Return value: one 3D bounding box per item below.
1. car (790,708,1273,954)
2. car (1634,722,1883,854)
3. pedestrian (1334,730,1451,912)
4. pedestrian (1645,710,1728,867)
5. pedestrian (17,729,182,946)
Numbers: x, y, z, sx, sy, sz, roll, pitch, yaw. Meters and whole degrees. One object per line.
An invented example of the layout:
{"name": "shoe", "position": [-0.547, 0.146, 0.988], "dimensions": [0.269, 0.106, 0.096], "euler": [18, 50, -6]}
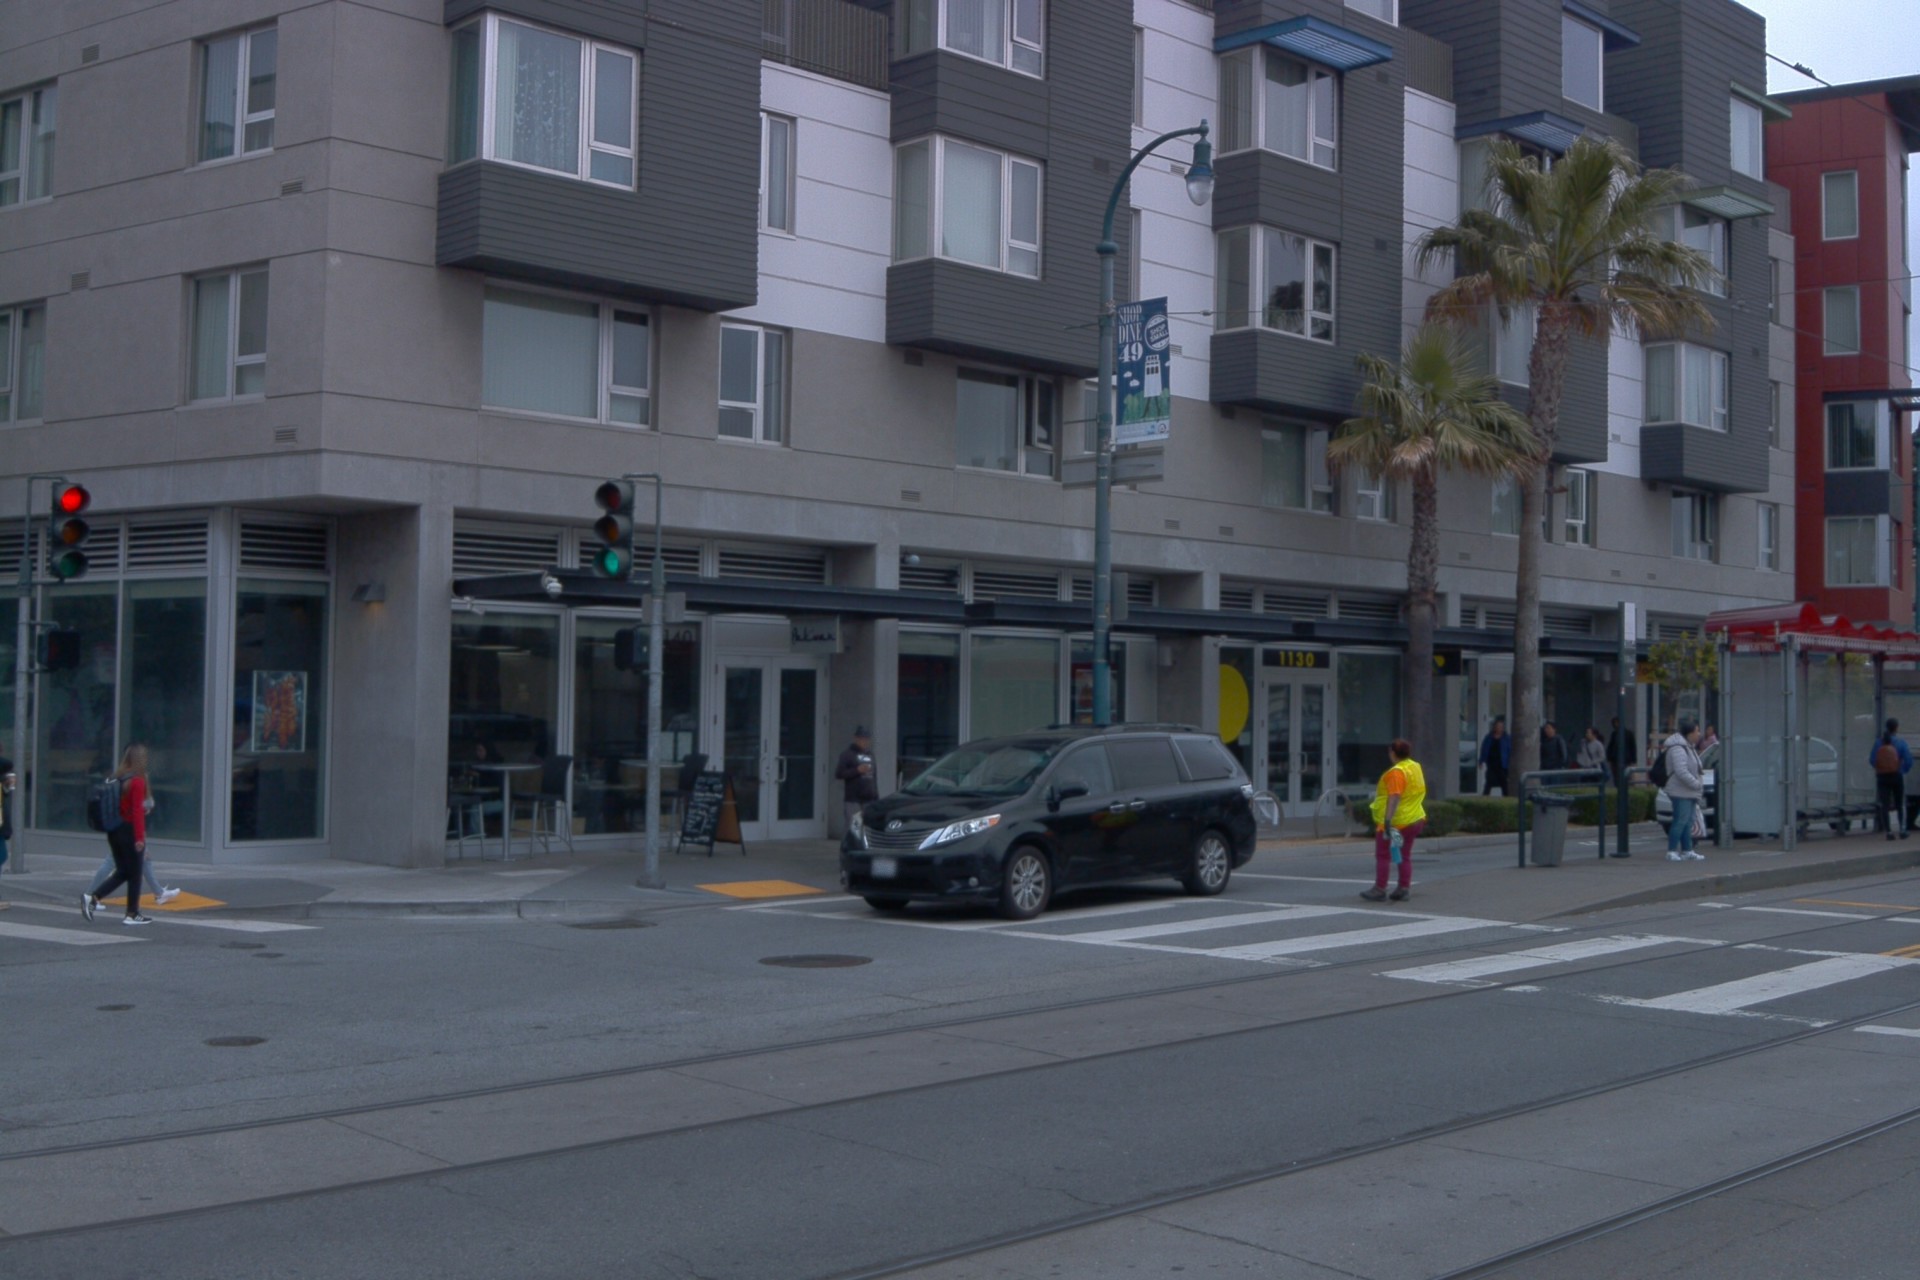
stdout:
{"name": "car", "position": [0.862, 1.761, 20.664], "dimensions": [2.147, 1.880, 5.074], "euler": [1, 1, 40]}
{"name": "car", "position": [12.593, 2.258, 32.431], "dimensions": [4.272, 1.680, 2.039], "euler": [-1, 1, -44]}
{"name": "pedestrian", "position": [4.262, 1.768, 20.368], "dimensions": [0.899, 1.700, 0.699], "euler": [0, 1, -16]}
{"name": "pedestrian", "position": [8.361, 1.689, 23.788], "dimensions": [0.858, 1.700, 0.977], "euler": [0, 1, 17]}
{"name": "pedestrian", "position": [-7.424, 1.673, 17.824], "dimensions": [0.885, 1.730, 0.982], "euler": [1, 1, 36]}
